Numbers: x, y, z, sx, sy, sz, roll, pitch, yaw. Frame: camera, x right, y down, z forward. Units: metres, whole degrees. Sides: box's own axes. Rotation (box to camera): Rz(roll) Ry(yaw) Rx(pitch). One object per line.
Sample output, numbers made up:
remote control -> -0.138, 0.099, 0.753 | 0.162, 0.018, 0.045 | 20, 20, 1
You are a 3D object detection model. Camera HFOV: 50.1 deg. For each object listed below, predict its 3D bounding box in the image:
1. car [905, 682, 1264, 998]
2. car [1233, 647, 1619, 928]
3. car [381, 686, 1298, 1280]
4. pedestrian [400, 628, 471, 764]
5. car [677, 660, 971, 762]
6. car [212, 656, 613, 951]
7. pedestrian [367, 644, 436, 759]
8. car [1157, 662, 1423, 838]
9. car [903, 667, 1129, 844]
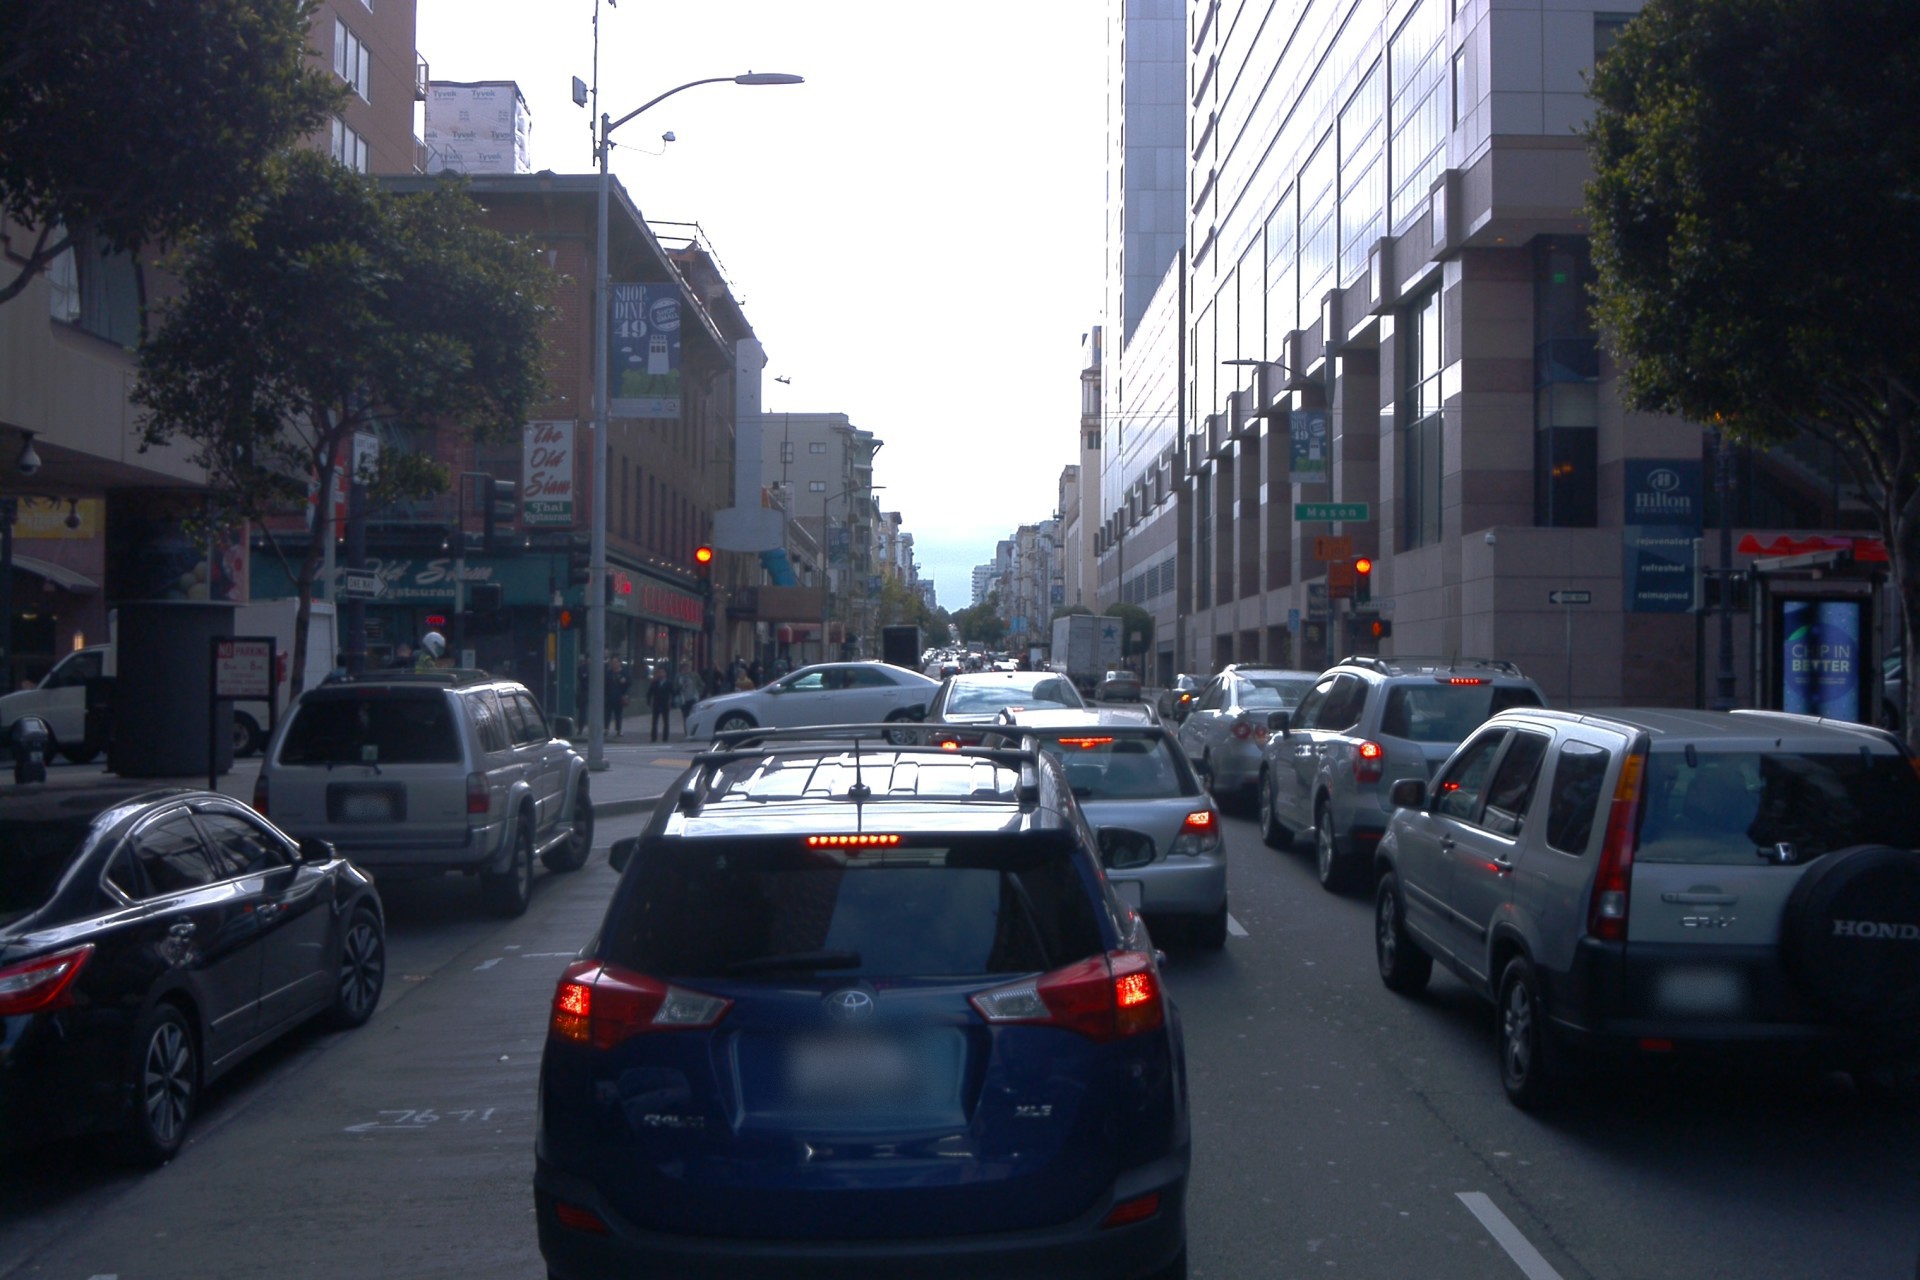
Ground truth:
car -> 0.756, 1.183, 13.994 | 2.030, 1.630, 4.708 | 0, 1, 1
car -> 3.554, 1.037, 16.633 | 2.029, 1.870, 4.665 | 0, 1, 0
car -> -0.293, 1.161, 7.187 | 2.184, 1.830, 4.555 | 0, 1, 0
pedestrian -> -7.419, 0.780, 29.068 | 0.708, 1.880, 0.658 | 0, 1, 29
car -> -2.213, 1.166, 34.460 | 4.779, 1.620, 1.945 | 0, 1, 2
car -> -4.073, 1.116, 16.159 | 1.995, 1.880, 4.690 | 0, 1, -1
pedestrian -> -8.183, 0.886, 30.159 | 0.779, 1.650, 0.864 | 0, 1, -1
car -> 3.436, 1.091, 22.361 | 2.063, 1.590, 4.797 | 0, 1, -1
car -> 0.460, 1.095, 21.250 | 2.074, 1.500, 4.589 | 0, 1, -1
